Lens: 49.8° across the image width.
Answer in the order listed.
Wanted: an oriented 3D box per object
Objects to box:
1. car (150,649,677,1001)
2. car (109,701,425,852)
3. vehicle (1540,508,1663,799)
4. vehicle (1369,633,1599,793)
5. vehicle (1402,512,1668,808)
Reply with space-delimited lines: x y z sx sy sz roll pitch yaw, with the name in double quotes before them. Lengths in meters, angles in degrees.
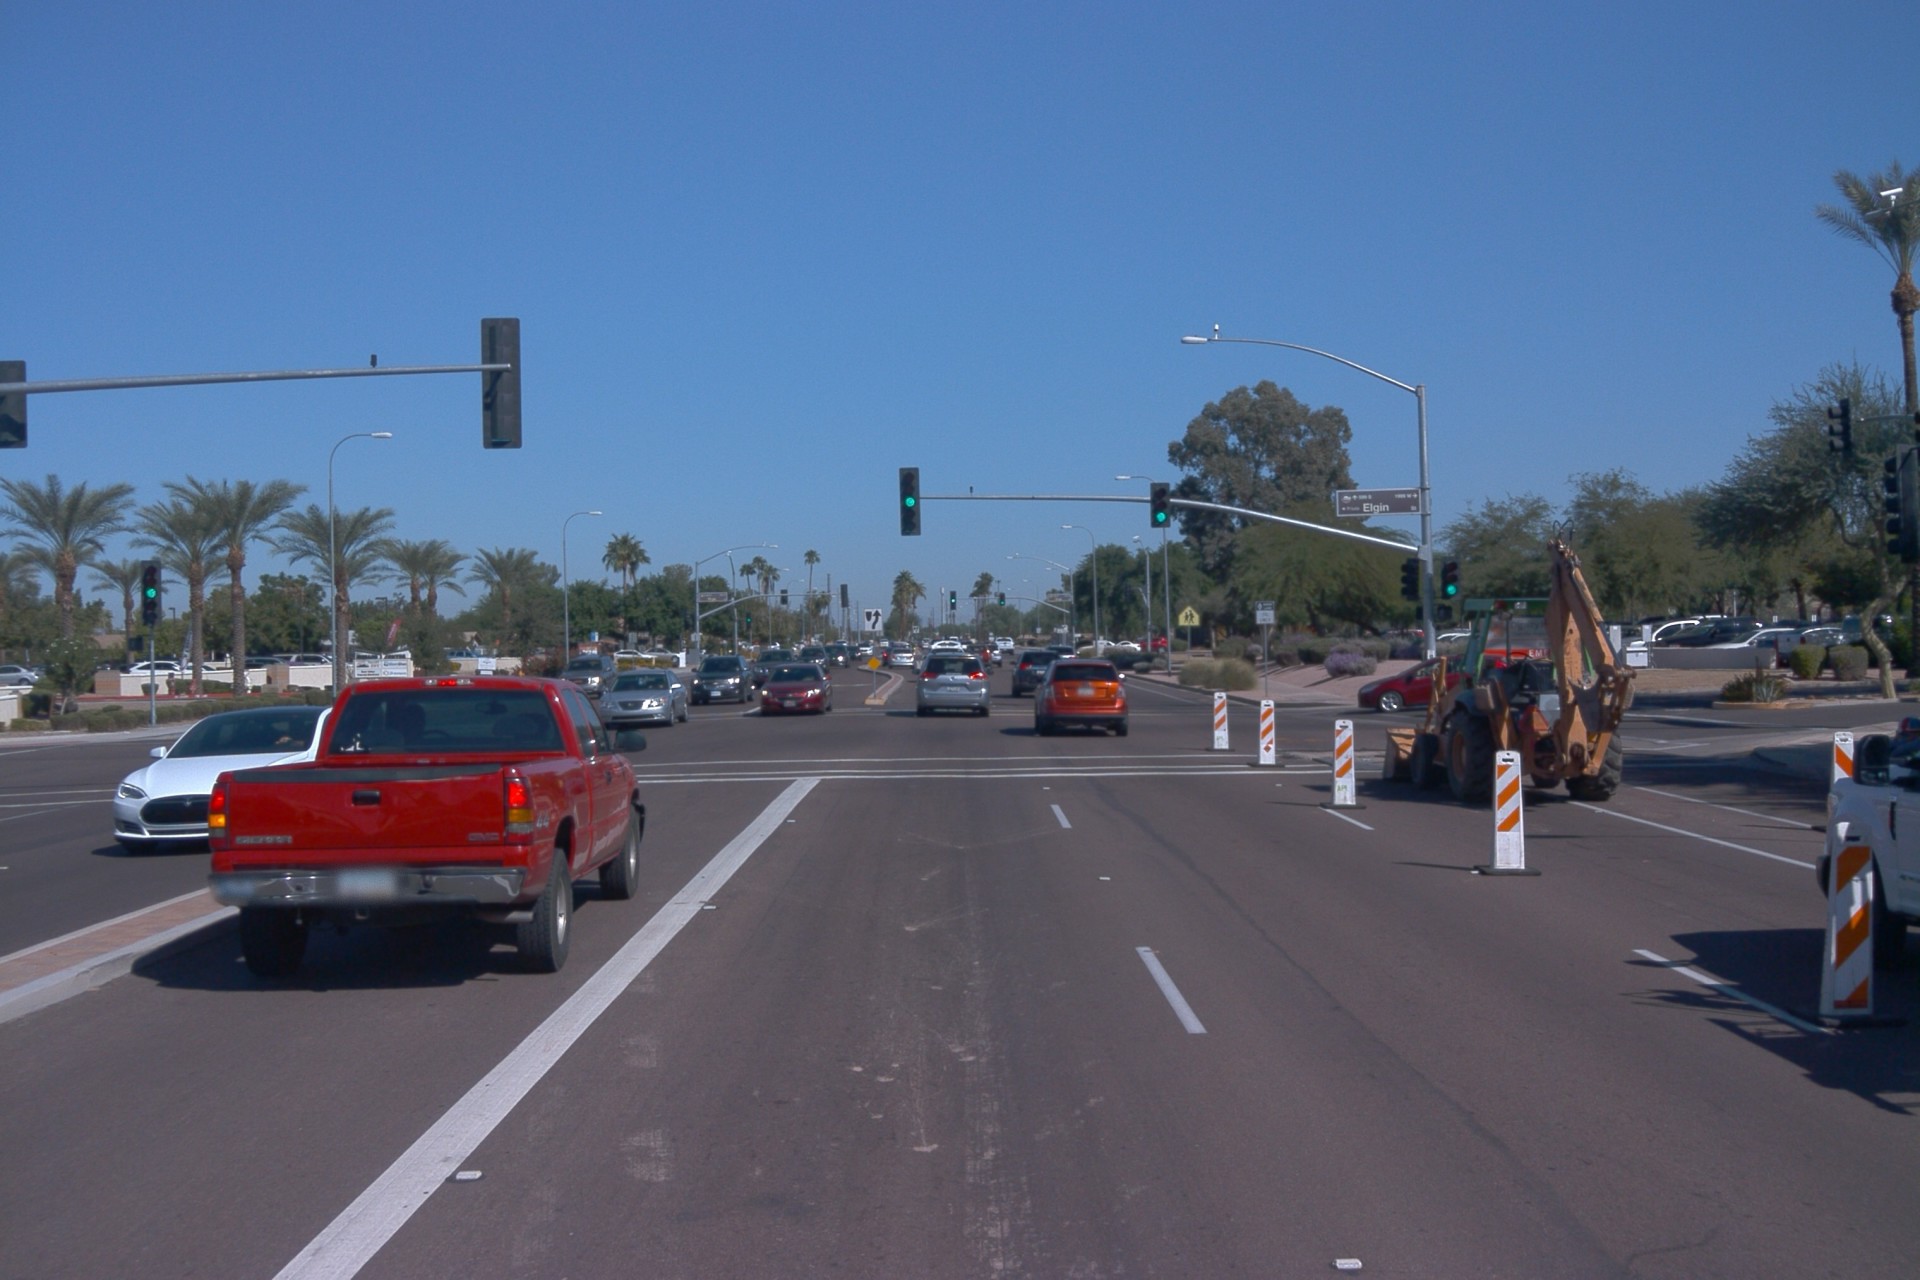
"car" -3.545 1.083 14.844 2.340 2.010 5.847 0 0 -1
"car" -7.802 1.484 23.850 2.105 1.440 4.701 0 0 -1
"vehicle" 7.751 0.156 25.117 0.644 3.370 2.251 0 0 -4
"vehicle" 7.470 1.006 29.823 2.546 2.180 2.860 0 0 -1
"vehicle" 7.587 0.253 27.757 2.346 3.680 3.990 0 0 -2
